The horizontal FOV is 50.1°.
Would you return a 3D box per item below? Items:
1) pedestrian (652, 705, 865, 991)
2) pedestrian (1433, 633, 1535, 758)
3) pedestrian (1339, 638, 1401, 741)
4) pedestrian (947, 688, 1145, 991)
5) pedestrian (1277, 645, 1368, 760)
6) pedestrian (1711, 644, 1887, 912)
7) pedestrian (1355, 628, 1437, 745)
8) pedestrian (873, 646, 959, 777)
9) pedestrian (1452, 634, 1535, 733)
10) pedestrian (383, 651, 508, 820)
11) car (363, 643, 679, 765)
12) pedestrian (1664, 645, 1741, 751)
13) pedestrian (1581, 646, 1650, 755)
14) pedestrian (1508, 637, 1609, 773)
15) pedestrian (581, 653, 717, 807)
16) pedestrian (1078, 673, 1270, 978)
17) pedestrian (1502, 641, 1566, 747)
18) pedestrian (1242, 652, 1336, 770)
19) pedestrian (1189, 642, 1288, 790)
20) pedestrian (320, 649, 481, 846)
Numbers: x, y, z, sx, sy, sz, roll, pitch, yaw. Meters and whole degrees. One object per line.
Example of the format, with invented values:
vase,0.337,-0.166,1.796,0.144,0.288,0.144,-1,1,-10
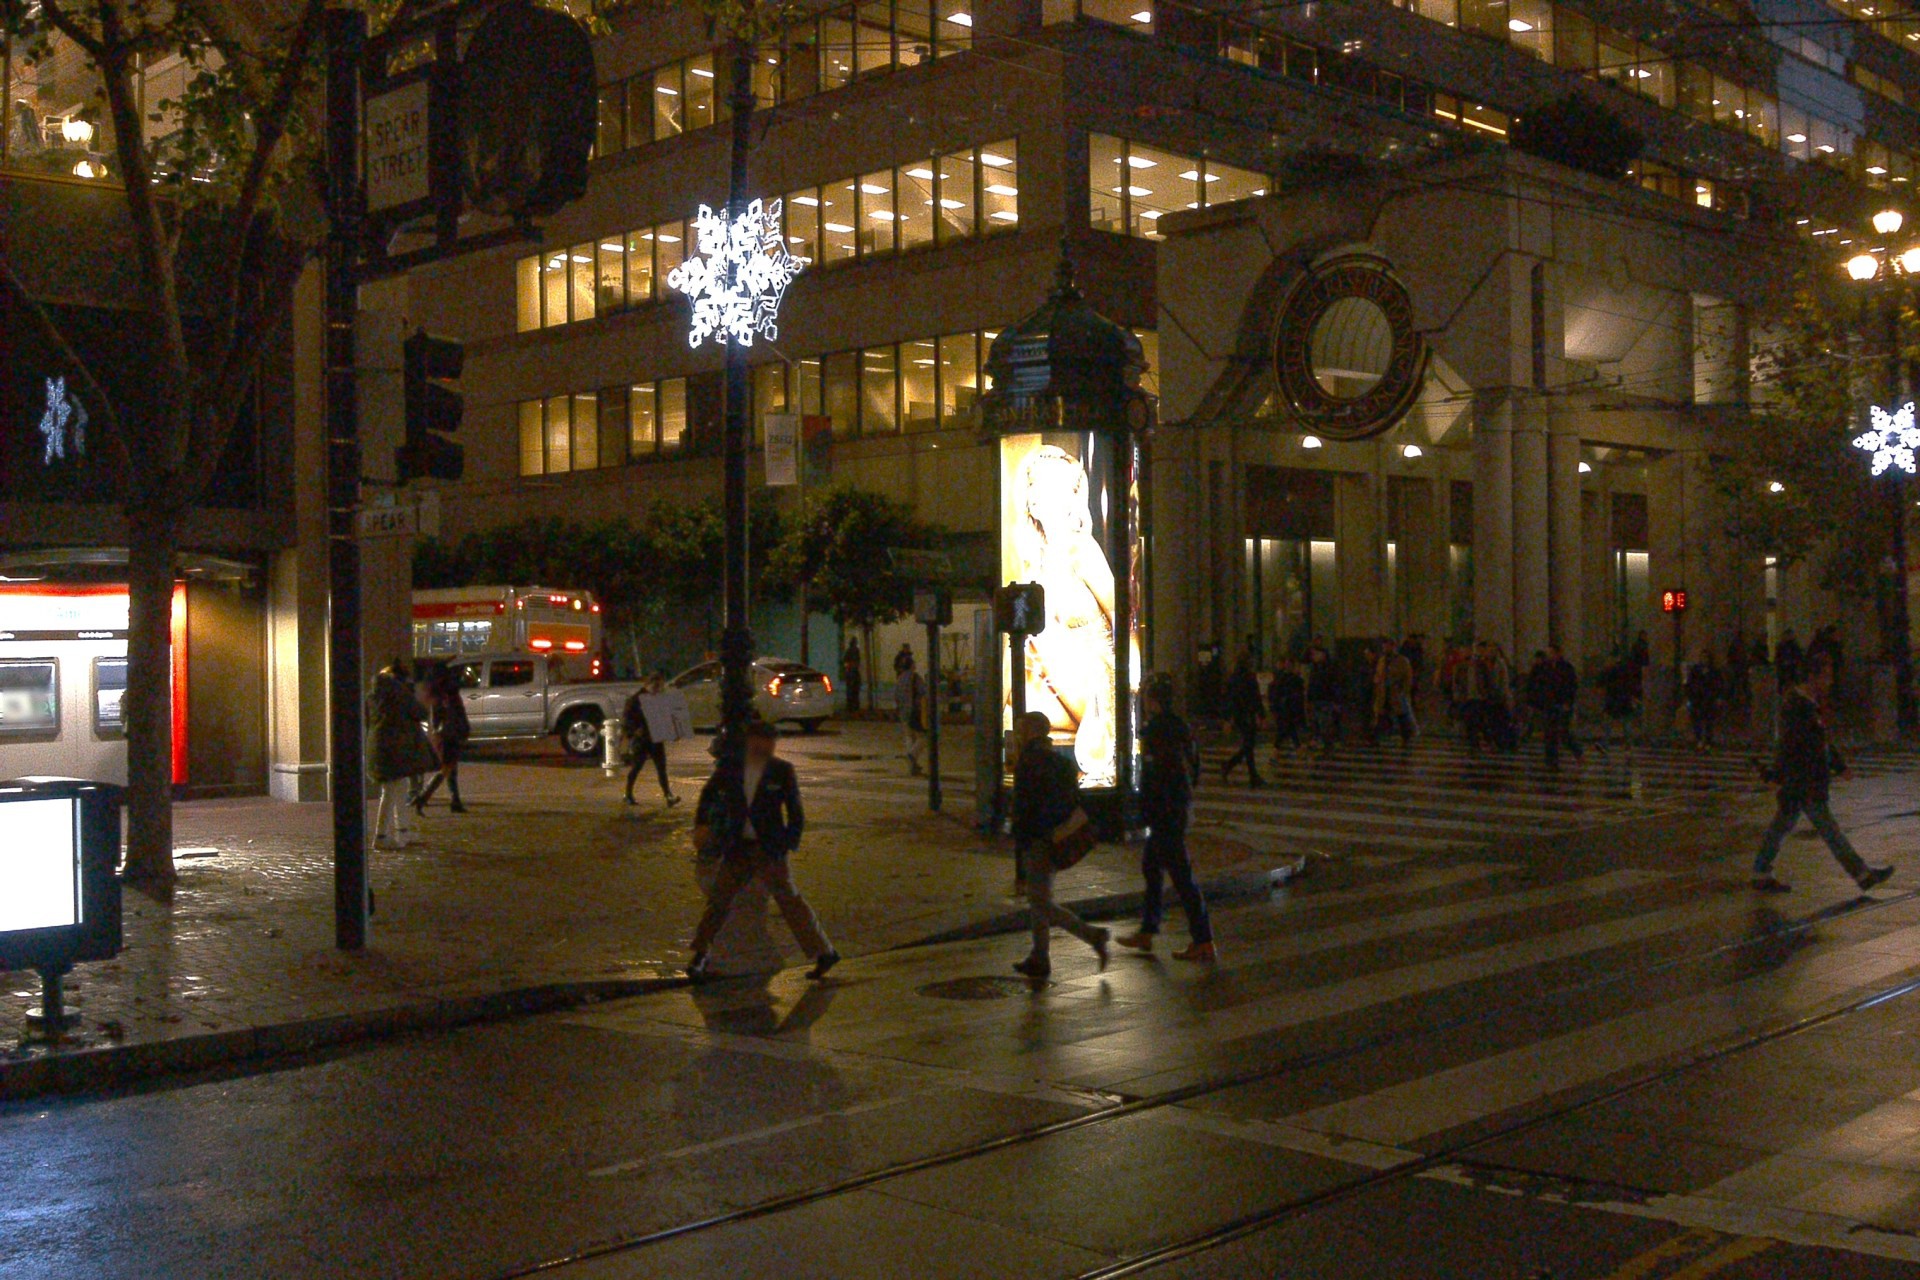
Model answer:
pedestrian,-1.299,1.323,13.475,1.163,1.740,1.066,0,1,8
pedestrian,8.270,0.862,32.417,1.417,1.920,0.743,0,1,-27
pedestrian,7.455,0.886,37.331,1.037,1.810,0.618,-1,1,-43
pedestrian,0.543,1.222,13.021,1.040,1.790,0.698,1,1,32
pedestrian,5.618,0.949,31.847,1.146,1.730,0.839,-1,1,-38
pedestrian,6.420,1.012,15.718,1.201,1.940,0.927,0,1,23
pedestrian,7.315,0.760,34.490,0.963,1.900,1.058,1,1,39
pedestrian,-0.641,1.027,30.142,0.753,1.850,1.064,1,1,40
pedestrian,9.403,0.747,36.206,1.080,1.680,1.025,1,1,38
pedestrian,-5.447,0.989,21.771,0.806,1.710,0.985,1,1,38
car,-7.347,1.057,34.751,4.910,1.960,1.934,0,1,0
pedestrian,11.790,0.903,32.600,0.886,1.620,1.083,1,1,34
pedestrian,10.303,0.934,32.277,0.699,1.650,1.101,1,1,38
pedestrian,8.434,0.887,28.937,1.161,1.850,0.837,-1,1,-38
pedestrian,-3.550,0.999,23.485,1.047,1.670,1.135,1,1,45
pedestrian,1.418,1.186,13.582,1.008,1.890,0.793,1,1,32
pedestrian,9.875,0.912,35.324,0.799,1.770,0.725,-1,1,-41
pedestrian,4.860,1.032,30.342,1.124,1.690,0.784,-1,1,-31
pedestrian,3.674,0.982,27.103,1.066,1.880,0.763,-1,1,-39
pedestrian,-5.173,0.961,19.007,0.908,1.720,1.120,1,1,45
